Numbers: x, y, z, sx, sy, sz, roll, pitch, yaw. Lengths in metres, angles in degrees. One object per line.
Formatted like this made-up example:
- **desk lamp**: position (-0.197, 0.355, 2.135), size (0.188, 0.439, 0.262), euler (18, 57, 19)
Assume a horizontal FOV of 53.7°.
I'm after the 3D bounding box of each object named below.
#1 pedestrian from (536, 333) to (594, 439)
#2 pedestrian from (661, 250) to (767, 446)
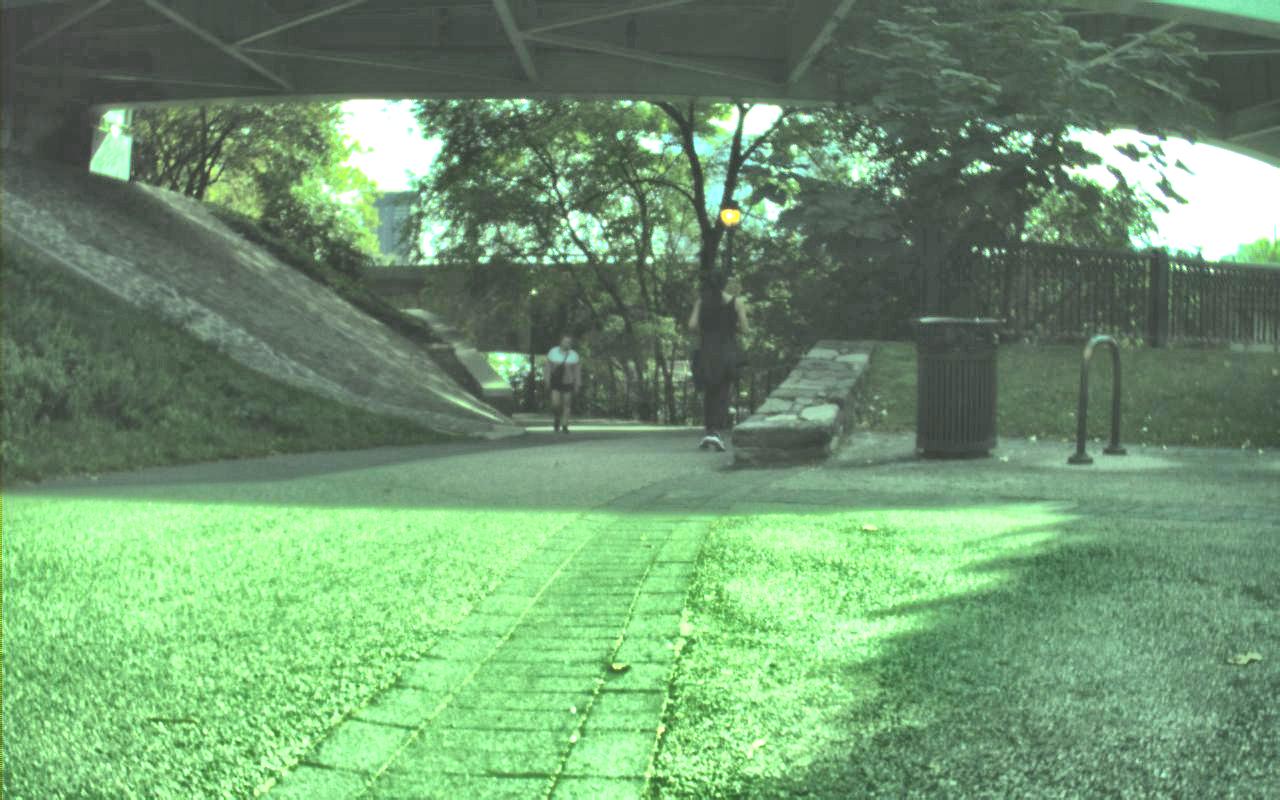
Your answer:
- **pedestrian**: position (-1.212, -0.227, 20.226), size (0.861, 1.651, 0.917), euler (0, 0, -7)
- **pedestrian**: position (0.662, -0.446, 11.027), size (0.809, 1.639, 0.880), euler (0, 0, 11)
